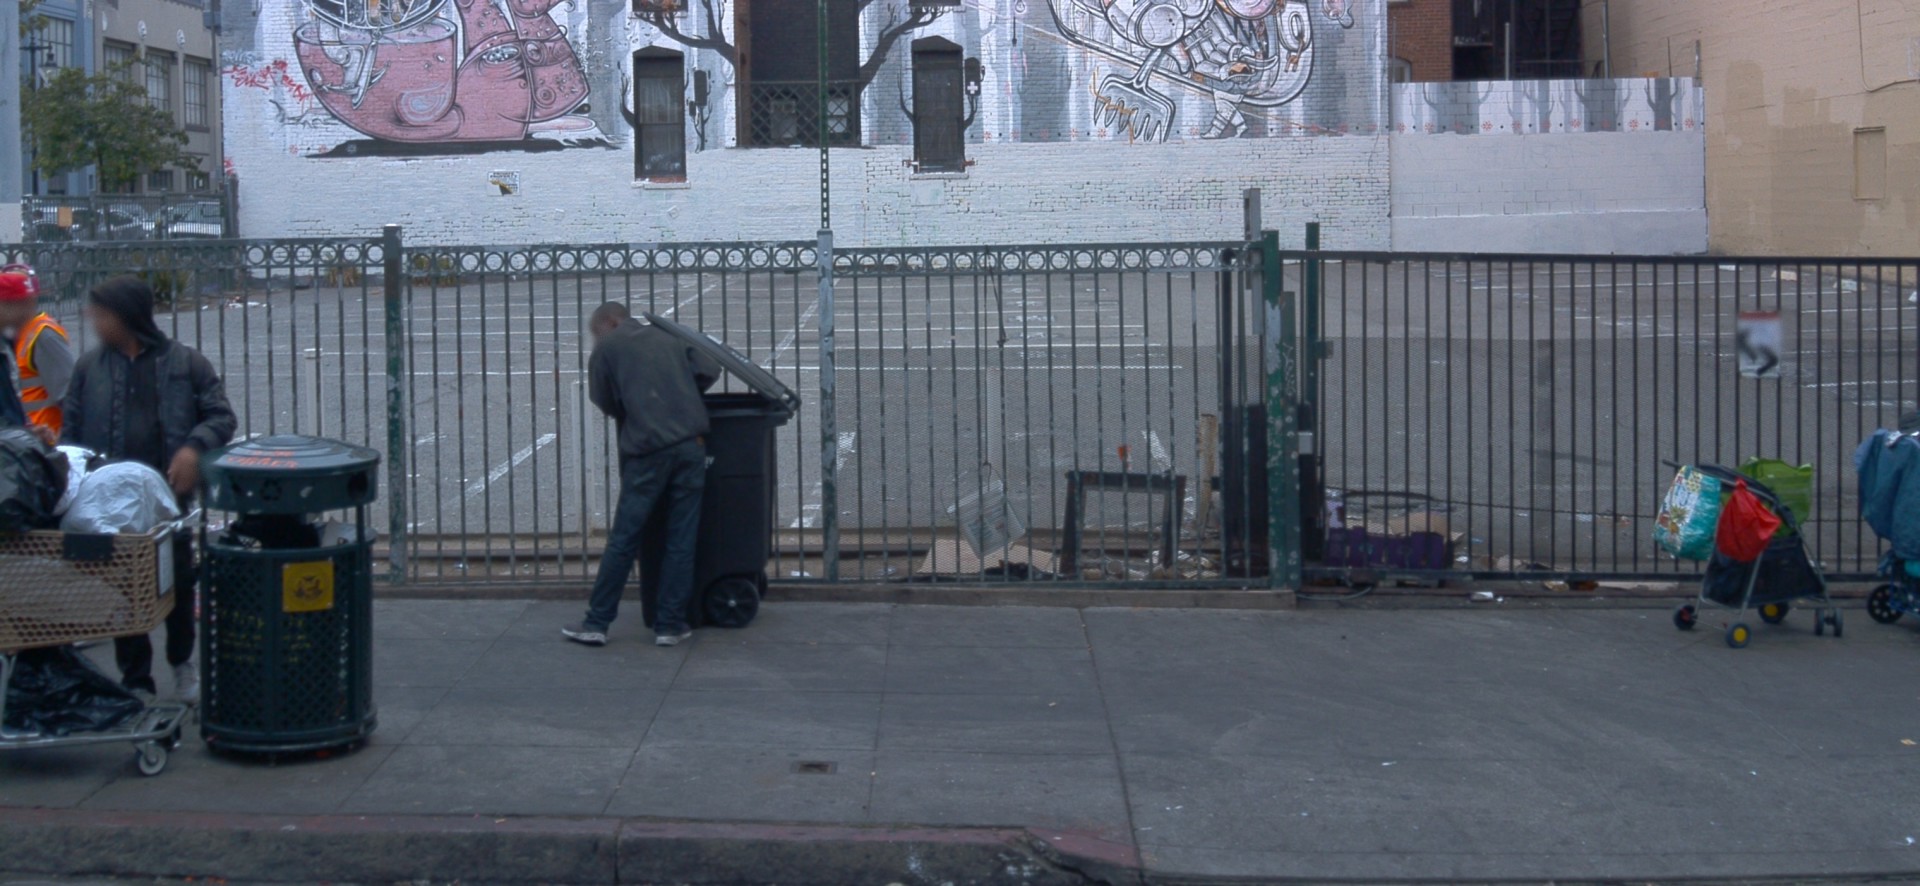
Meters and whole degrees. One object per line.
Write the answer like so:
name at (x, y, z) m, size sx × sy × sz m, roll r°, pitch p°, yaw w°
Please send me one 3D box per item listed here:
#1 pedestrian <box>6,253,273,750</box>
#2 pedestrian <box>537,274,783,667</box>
pedestrian at (-3.310, 0.189, 8.370) m, size 0.853 × 1.907 × 0.747 m, roll 0°, pitch 2°, yaw -9°
pedestrian at (-1.410, 0.091, 9.867) m, size 1.086 × 1.777 × 0.844 m, roll 0°, pitch 2°, yaw -3°
